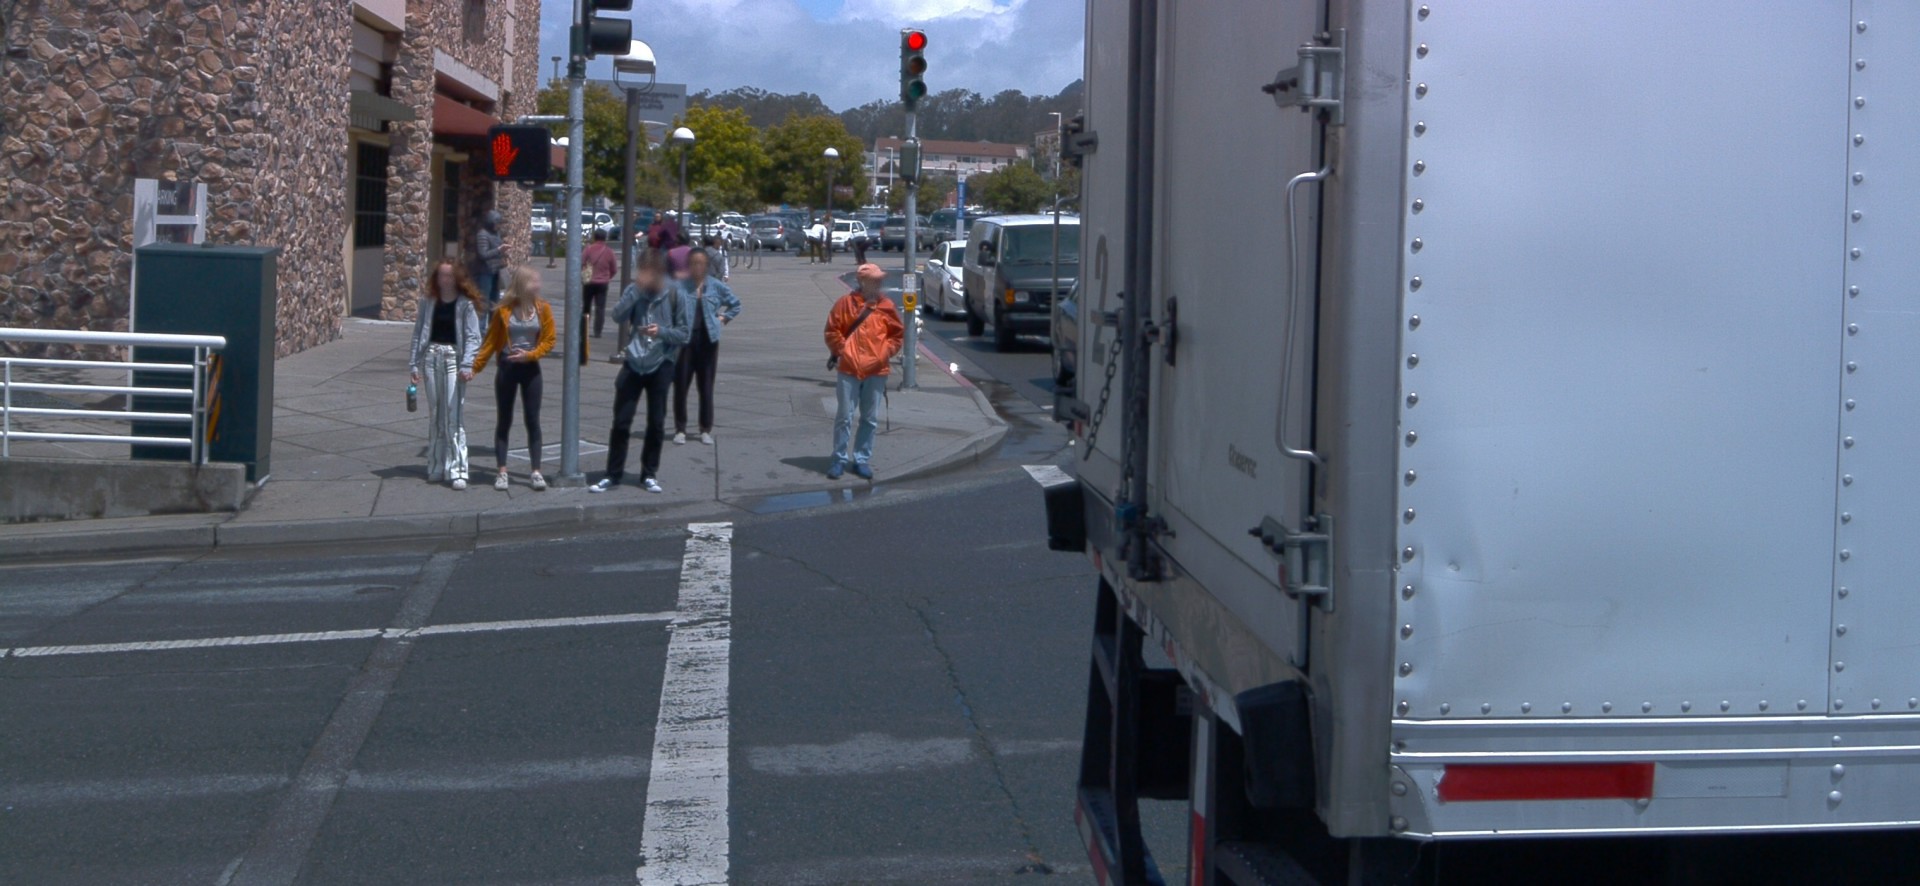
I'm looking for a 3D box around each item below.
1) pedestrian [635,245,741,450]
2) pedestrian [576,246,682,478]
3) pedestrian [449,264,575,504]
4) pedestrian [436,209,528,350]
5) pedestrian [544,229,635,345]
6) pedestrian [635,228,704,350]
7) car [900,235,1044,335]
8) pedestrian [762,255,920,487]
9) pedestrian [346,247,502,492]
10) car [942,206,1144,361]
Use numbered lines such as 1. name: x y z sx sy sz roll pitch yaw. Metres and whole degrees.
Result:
1. pedestrian: -2.272 -0.829 17.379 0.832 1.646 0.983 -1 3 -6
2. pedestrian: -2.431 -0.618 15.246 0.712 1.647 0.642 -1 2 -6
3. pedestrian: -3.283 -0.454 15.153 0.690 1.697 0.555 0 2 20
4. pedestrian: -6.260 -2.162 27.103 0.867 1.806 0.955 0 2 8
5. pedestrian: -5.253 -2.235 29.294 1.032 1.586 0.933 -2 3 -27
6. pedestrian: -4.023 -2.146 28.615 0.815 1.647 0.655 -1 2 -18
7. car: 0.156 -3.083 39.636 2.065 1.721 4.572 -1 6 -8
8. pedestrian: -0.931 -0.615 16.478 0.866 1.736 1.255 0 3 17
9. pedestrian: -3.960 -0.576 15.297 0.791 1.736 0.764 0 2 25
10. car: 1.187 -2.611 32.512 2.374 2.189 5.386 -1 6 -6
